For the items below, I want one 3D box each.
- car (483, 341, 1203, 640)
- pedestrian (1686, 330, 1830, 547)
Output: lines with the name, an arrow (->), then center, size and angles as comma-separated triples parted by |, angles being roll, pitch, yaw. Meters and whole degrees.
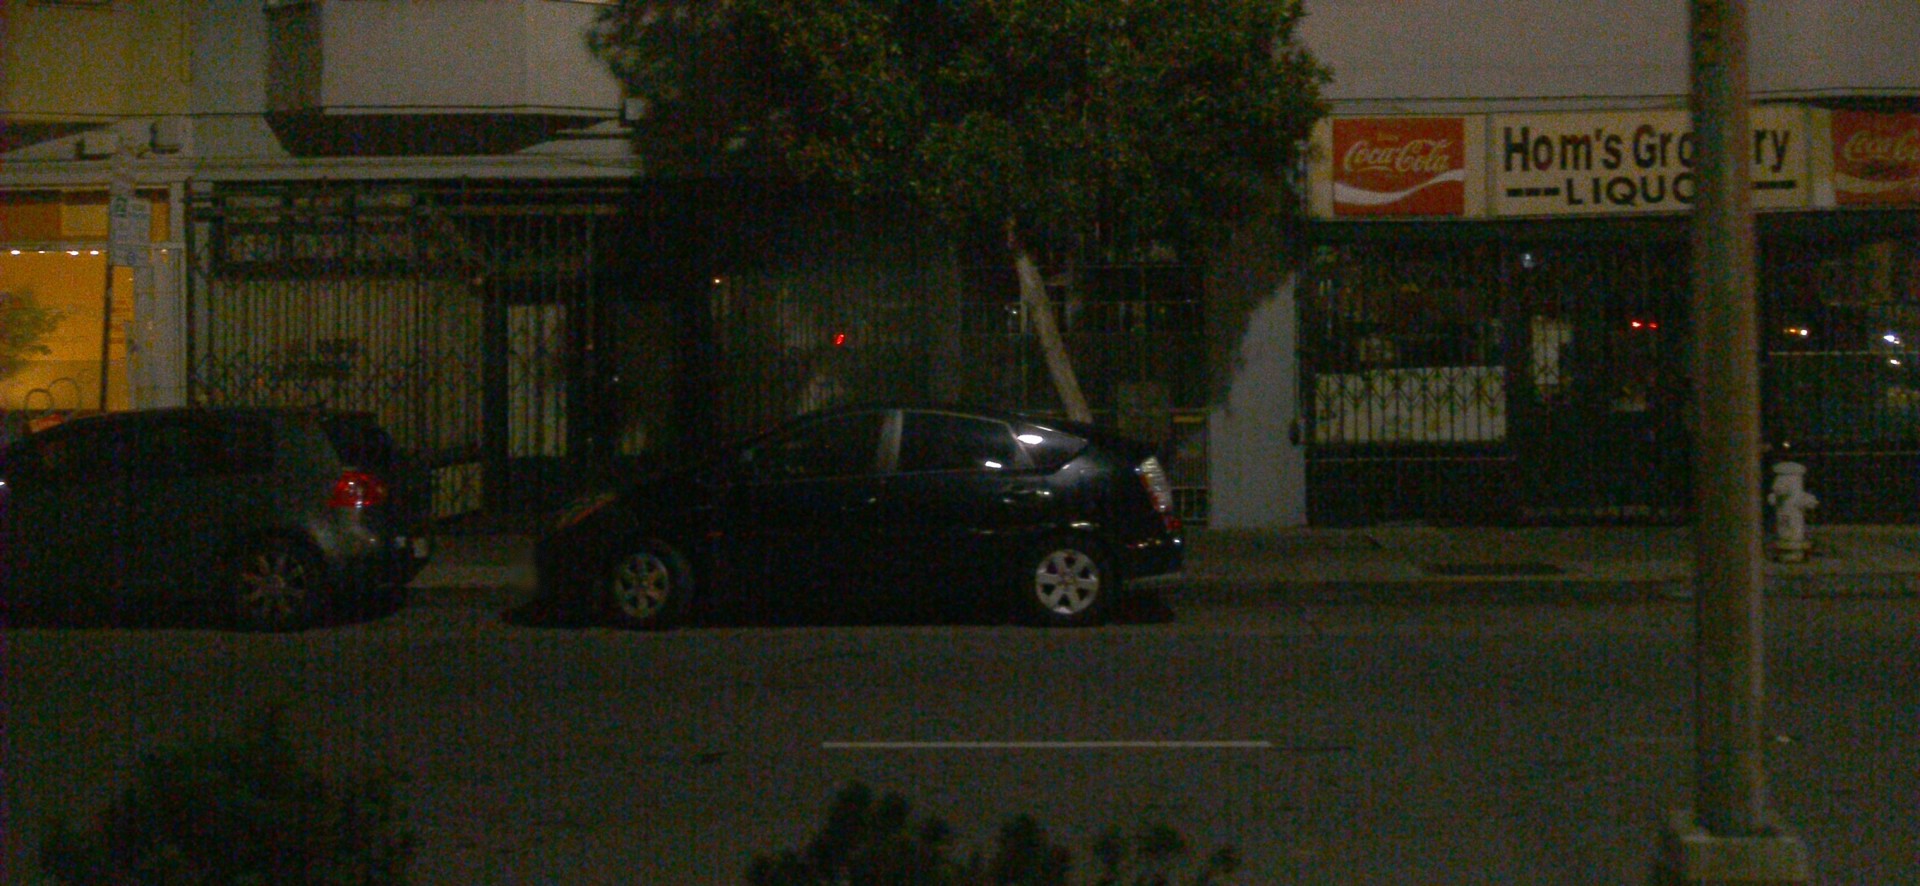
car -> -0.756, 0.257, 14.149 | 4.570, 1.776, 1.947 | 0, 4, -2
pedestrian -> 6.558, -0.062, 17.056 | 0.820, 1.688, 0.880 | 0, 2, -2
